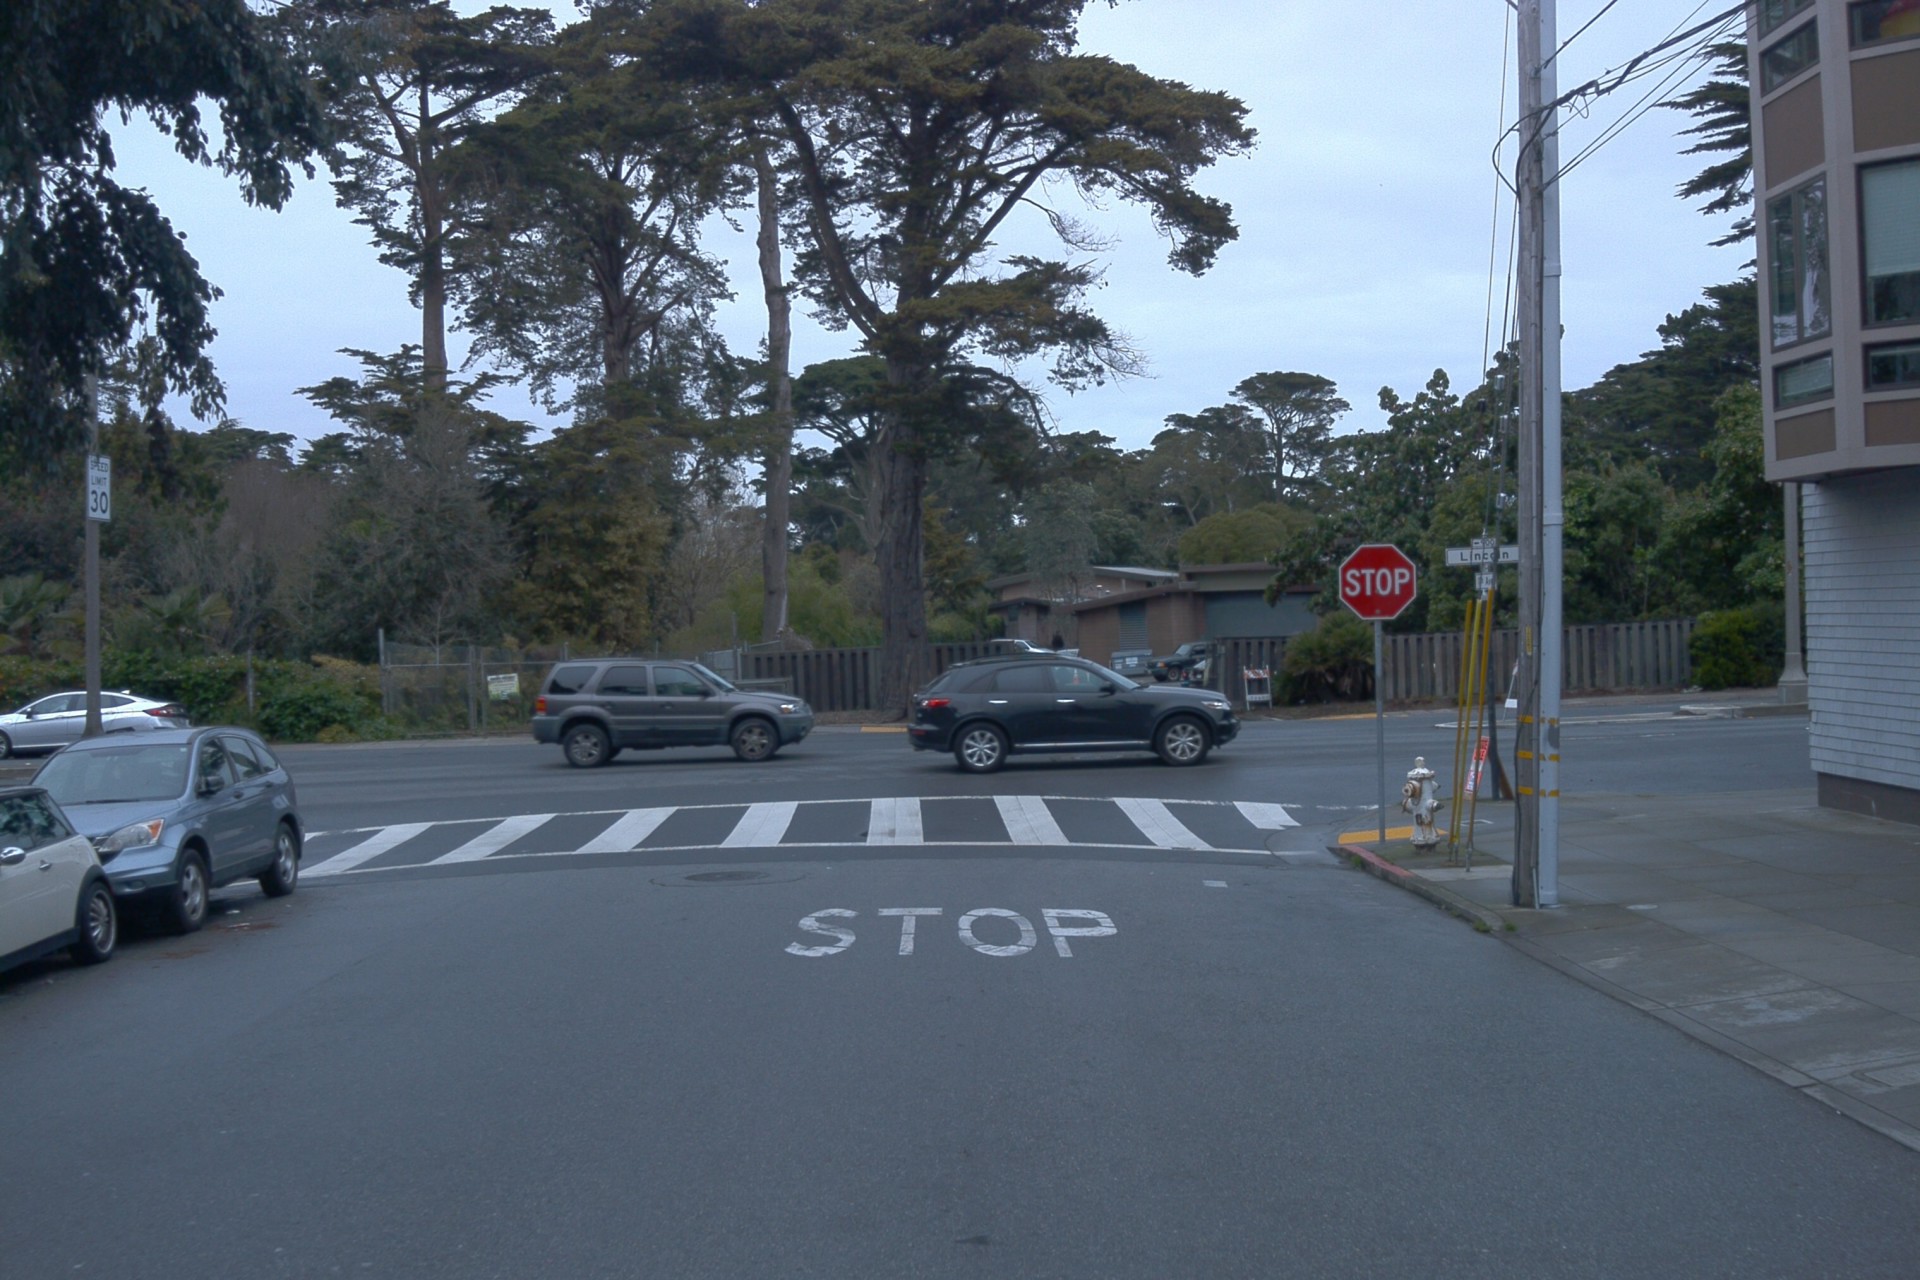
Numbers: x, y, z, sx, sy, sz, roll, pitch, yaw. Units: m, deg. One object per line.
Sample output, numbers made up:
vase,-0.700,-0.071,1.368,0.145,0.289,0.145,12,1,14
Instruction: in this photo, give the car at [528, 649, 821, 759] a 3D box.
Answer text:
car,-4.532,1.003,33.229,4.482,1.720,1.833,0,0,-1

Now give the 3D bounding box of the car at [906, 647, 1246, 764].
car,1.624,0.923,30.010,4.788,1.640,1.932,0,0,-1
